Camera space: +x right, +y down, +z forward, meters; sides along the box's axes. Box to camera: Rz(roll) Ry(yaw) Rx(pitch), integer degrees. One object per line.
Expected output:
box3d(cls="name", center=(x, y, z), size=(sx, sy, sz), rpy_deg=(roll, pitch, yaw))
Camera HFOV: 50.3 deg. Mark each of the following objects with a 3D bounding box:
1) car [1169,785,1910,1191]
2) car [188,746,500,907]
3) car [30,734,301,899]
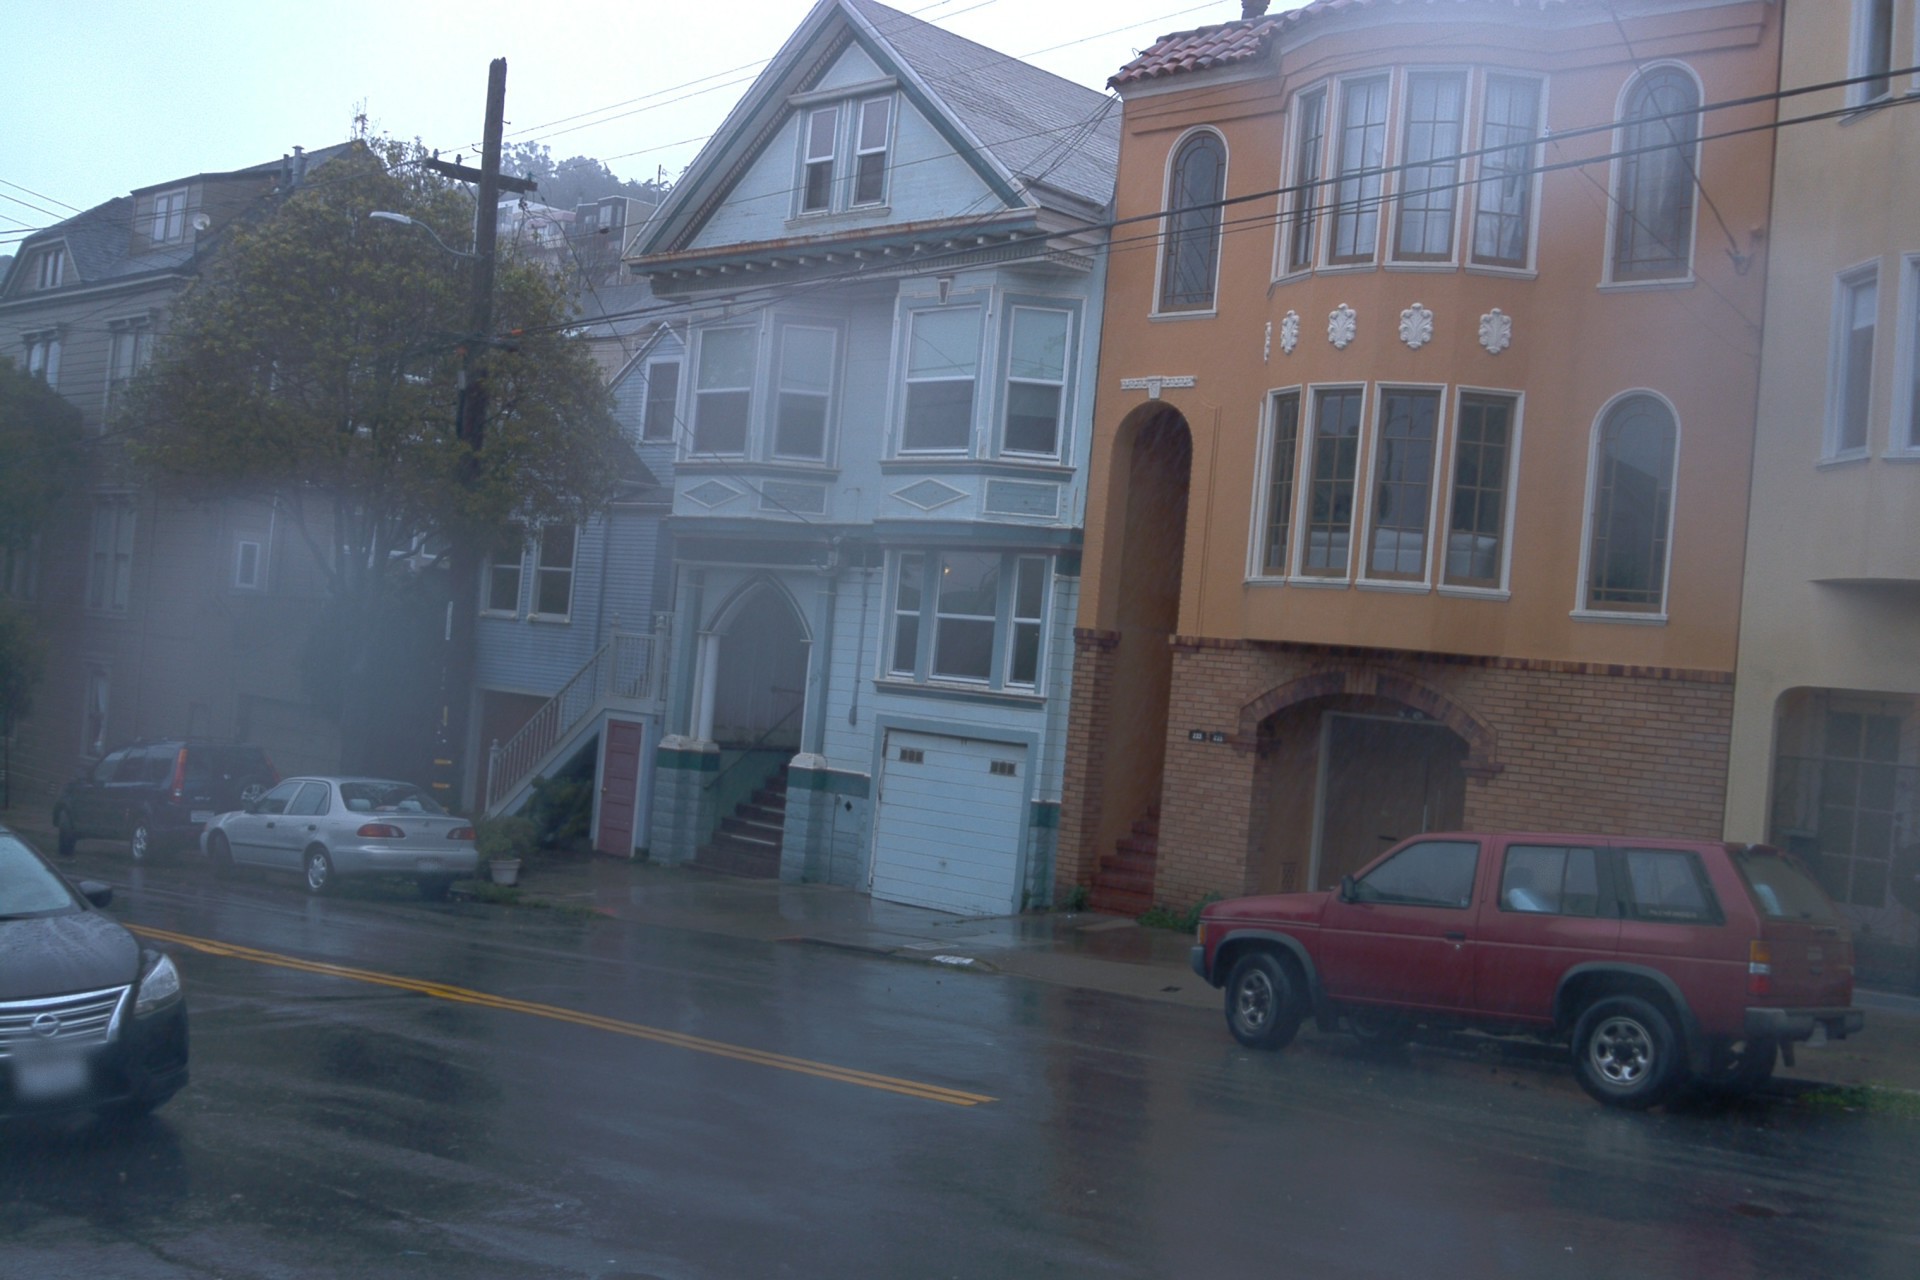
box3d(cls="car", center=(3.758, 2.125, 13.795), size=(4.381, 1.930, 1.952), rpy_deg=(1, 1, 44))
box3d(cls="car", center=(-7.418, 2.148, 24.429), size=(4.248, 1.490, 1.679), rpy_deg=(1, 1, 44))
box3d(cls="car", center=(-10.942, 2.330, 28.053), size=(4.158, 1.850, 1.892), rpy_deg=(1, 1, 44))
